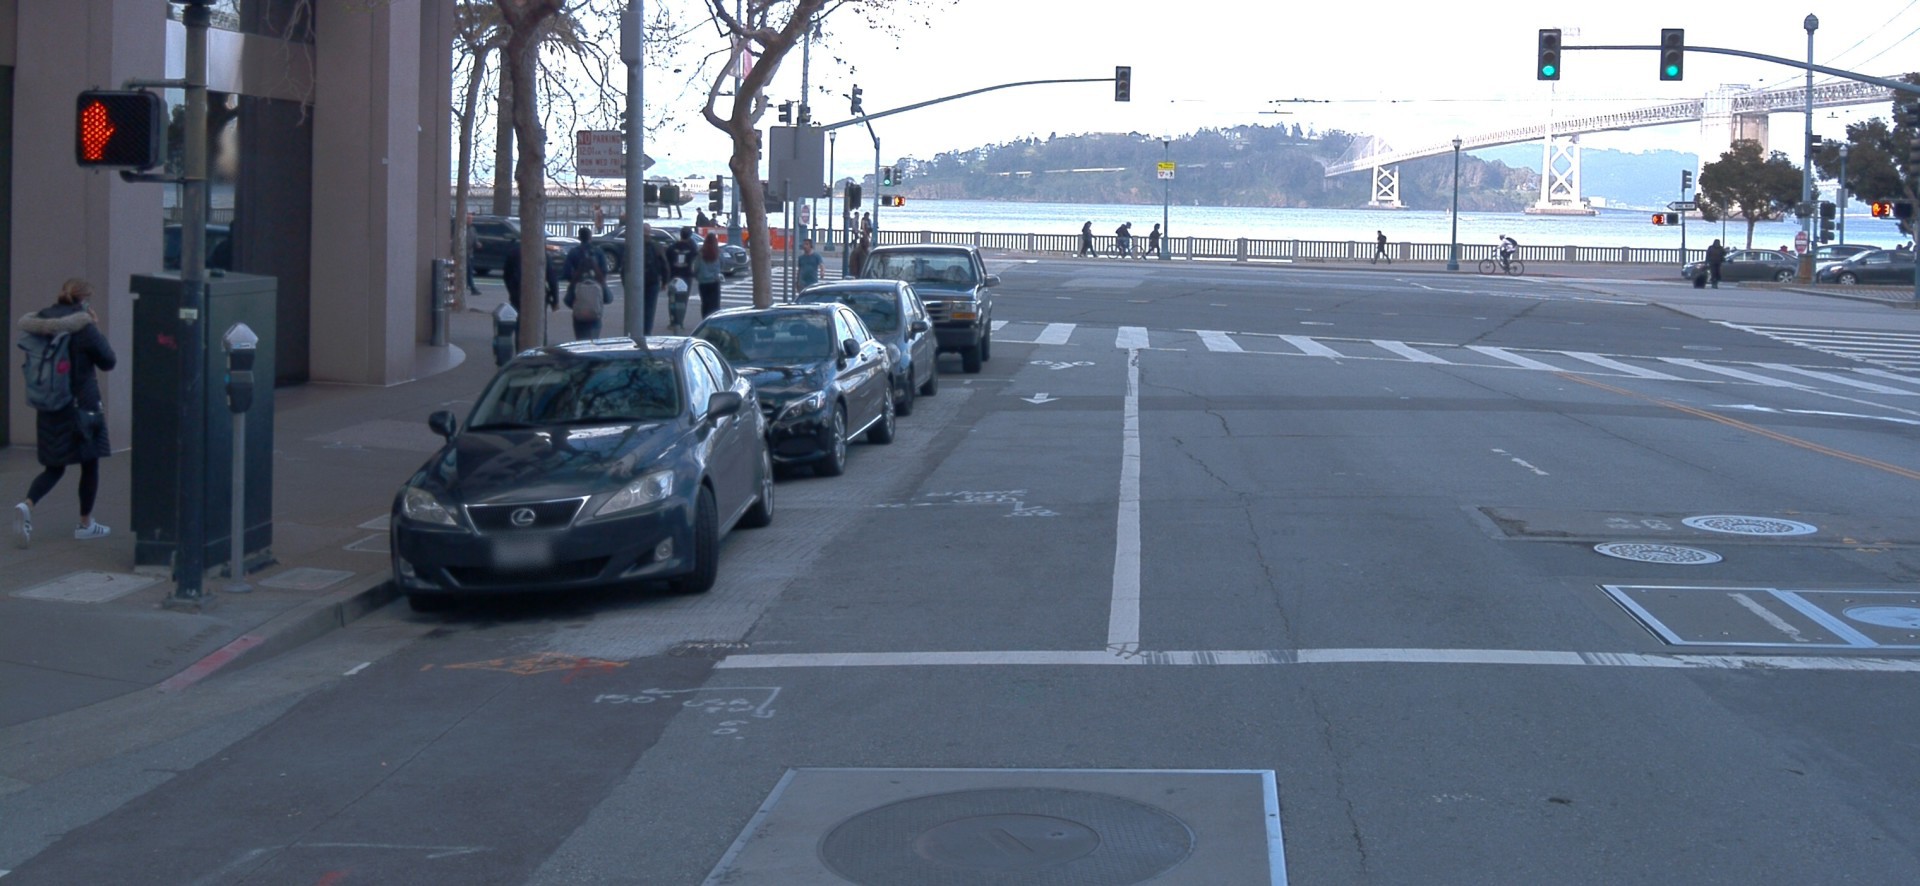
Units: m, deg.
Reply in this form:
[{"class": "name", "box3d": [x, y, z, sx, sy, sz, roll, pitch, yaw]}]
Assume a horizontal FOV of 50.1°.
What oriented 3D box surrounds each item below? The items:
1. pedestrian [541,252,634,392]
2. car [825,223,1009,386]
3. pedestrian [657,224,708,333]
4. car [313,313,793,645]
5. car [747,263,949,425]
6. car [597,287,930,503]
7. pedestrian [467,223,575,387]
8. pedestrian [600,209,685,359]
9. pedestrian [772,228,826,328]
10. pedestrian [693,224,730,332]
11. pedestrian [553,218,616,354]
[{"class": "pedestrian", "box3d": [-4.372, -1.444, 24.167, 0.873, 1.586, 1.034, 0, 3, 3]}, {"class": "car", "box3d": [-0.550, -2.220, 31.423, 2.437, 2.218, 4.887, 0, 6, 3]}, {"class": "pedestrian", "box3d": [-4.808, -2.862, 35.597, 0.842, 1.855, 0.774, 0, 2, -6]}, {"class": "car", "box3d": [-2.382, 0.041, 13.405, 2.078, 1.501, 4.783, 0, 6, 1]}, {"class": "car", "box3d": [-1.245, -1.268, 24.657, 1.888, 1.641, 4.066, 0, 6, 5]}, {"class": "car", "box3d": [-1.654, -0.579, 19.198, 2.122, 1.531, 4.772, 1, 6, 7]}, {"class": "pedestrian", "box3d": [-5.185, -1.660, 24.326, 0.961, 1.865, 1.349, 0, 3, 1]}, {"class": "pedestrian", "box3d": [-4.472, -2.272, 29.014, 1.012, 2.044, 1.356, 0, 3, -1]}, {"class": "pedestrian", "box3d": [-3.012, -3.099, 38.446, 0.961, 1.825, 0.845, 0, 2, -1]}, {"class": "pedestrian", "box3d": [-4.287, -2.850, 35.464, 0.629, 1.836, 0.602, 0, 2, -7]}, {"class": "pedestrian", "box3d": [-5.239, -2.212, 28.708, 0.732, 1.865, 0.947, 0, 3, -2]}]
